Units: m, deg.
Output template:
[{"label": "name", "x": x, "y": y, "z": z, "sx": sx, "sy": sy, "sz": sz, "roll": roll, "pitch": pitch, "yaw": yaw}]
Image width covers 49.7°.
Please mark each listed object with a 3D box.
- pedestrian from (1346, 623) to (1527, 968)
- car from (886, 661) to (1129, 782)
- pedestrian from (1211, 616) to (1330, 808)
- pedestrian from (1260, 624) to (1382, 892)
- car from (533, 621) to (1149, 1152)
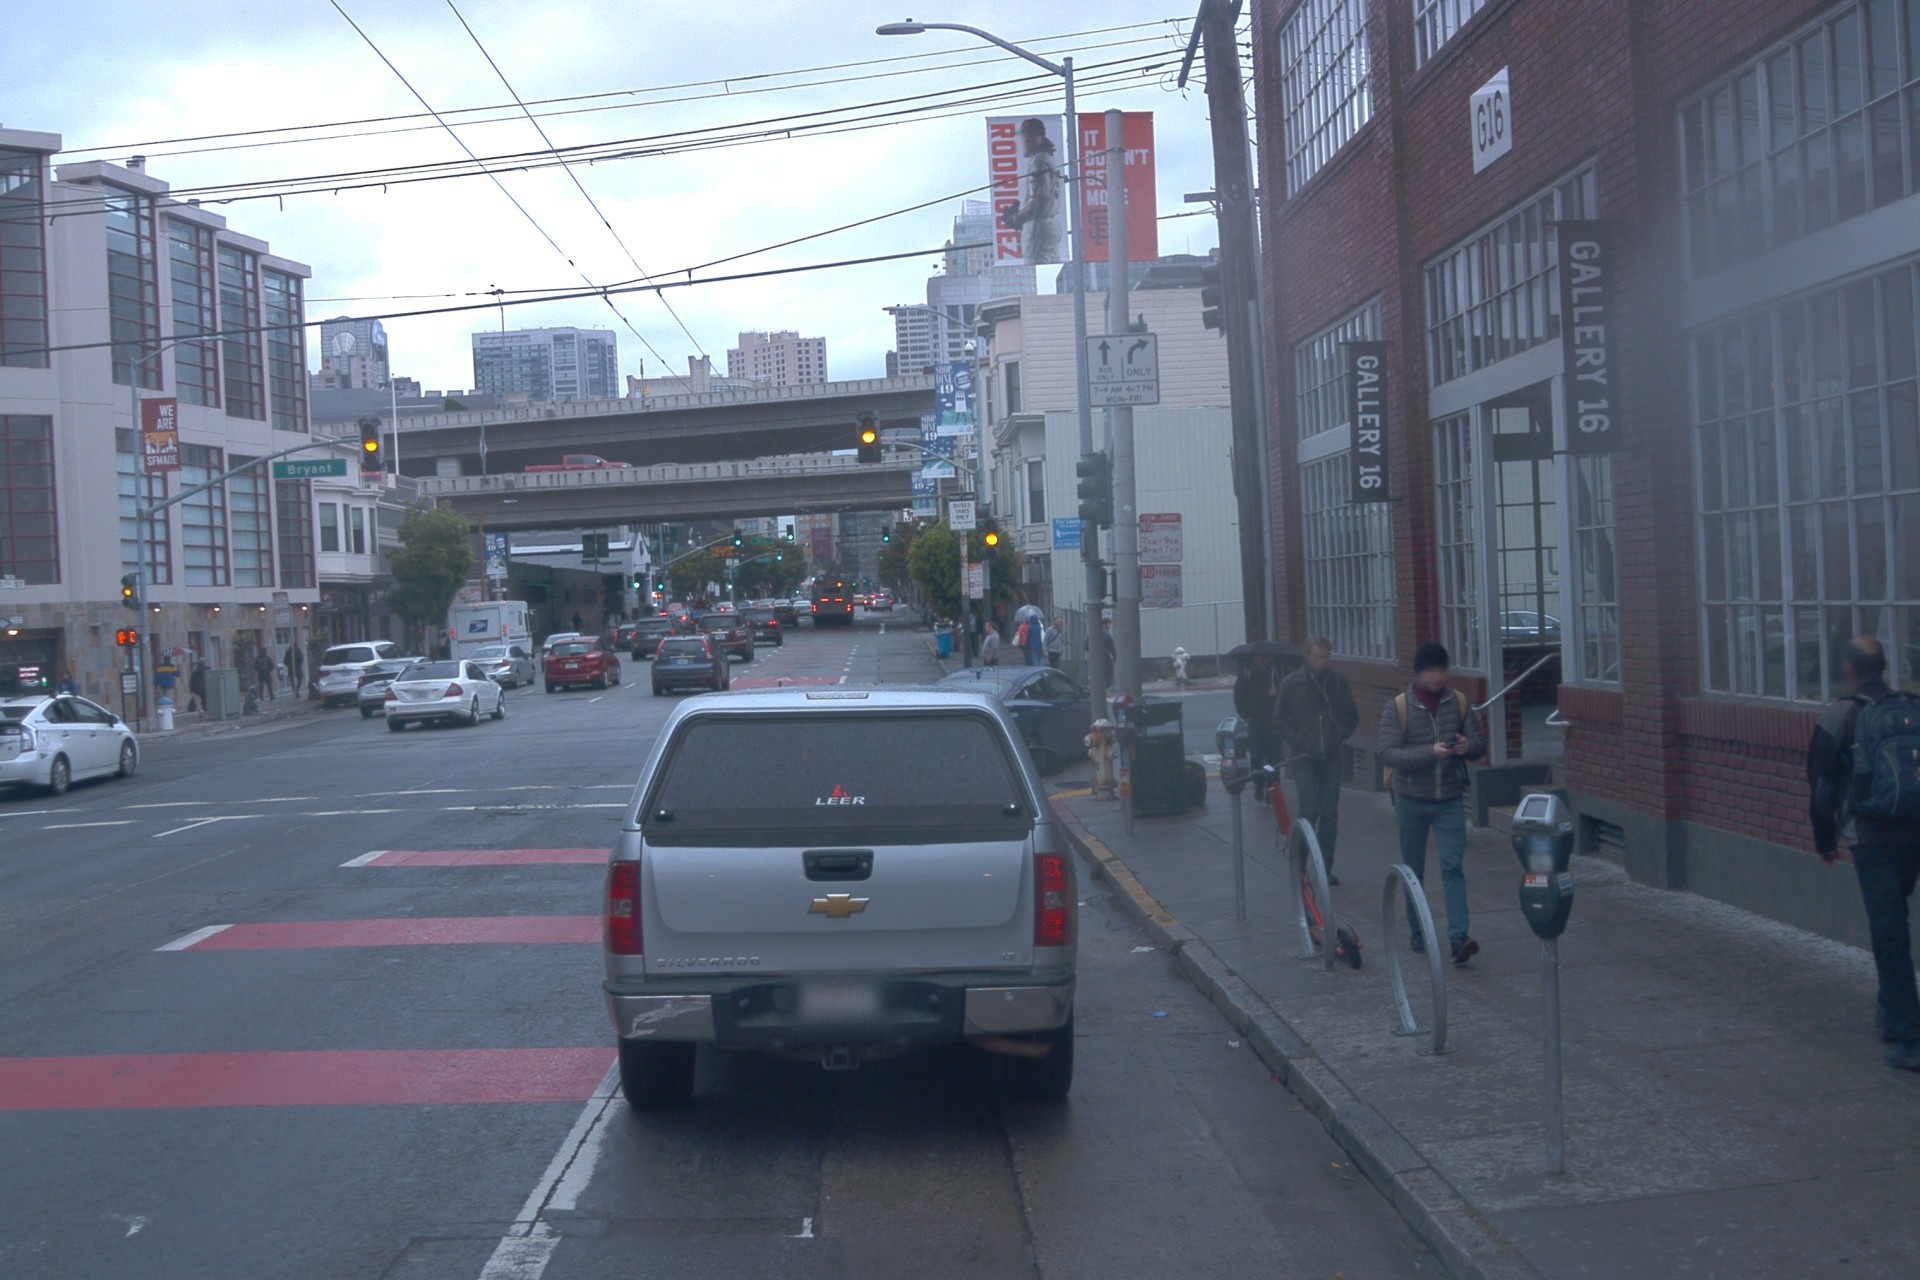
[{"label": "pedestrian", "x": 2.601, "y": 0.827, "z": 11.404, "sx": 0.763, "sy": 1.820, "sz": 0.914, "roll": 0, "pitch": -1, "yaw": -1}, {"label": "car", "x": 0.764, "y": 1.091, "z": 29.235, "sx": 1.890, "sy": 1.560, "sz": 4.376, "roll": -1, "pitch": -1, "yaw": 24}, {"label": "pedestrian", "x": 3.089, "y": 0.712, "z": 20.747, "sx": 1.016, "sy": 1.870, "sz": 1.039, "roll": 0, "pitch": -1, "yaw": -1}, {"label": "pedestrian", "x": 2.587, "y": 0.828, "z": 14.958, "sx": 0.749, "sy": 1.870, "sz": 0.954, "roll": 0, "pitch": -1, "yaw": 3}, {"label": "car", "x": -0.521, "y": 1.002, "z": 10.913, "sx": 2.411, "sy": 2.070, "sz": 5.547, "roll": 0, "pitch": -1, "yaw": -1}]
